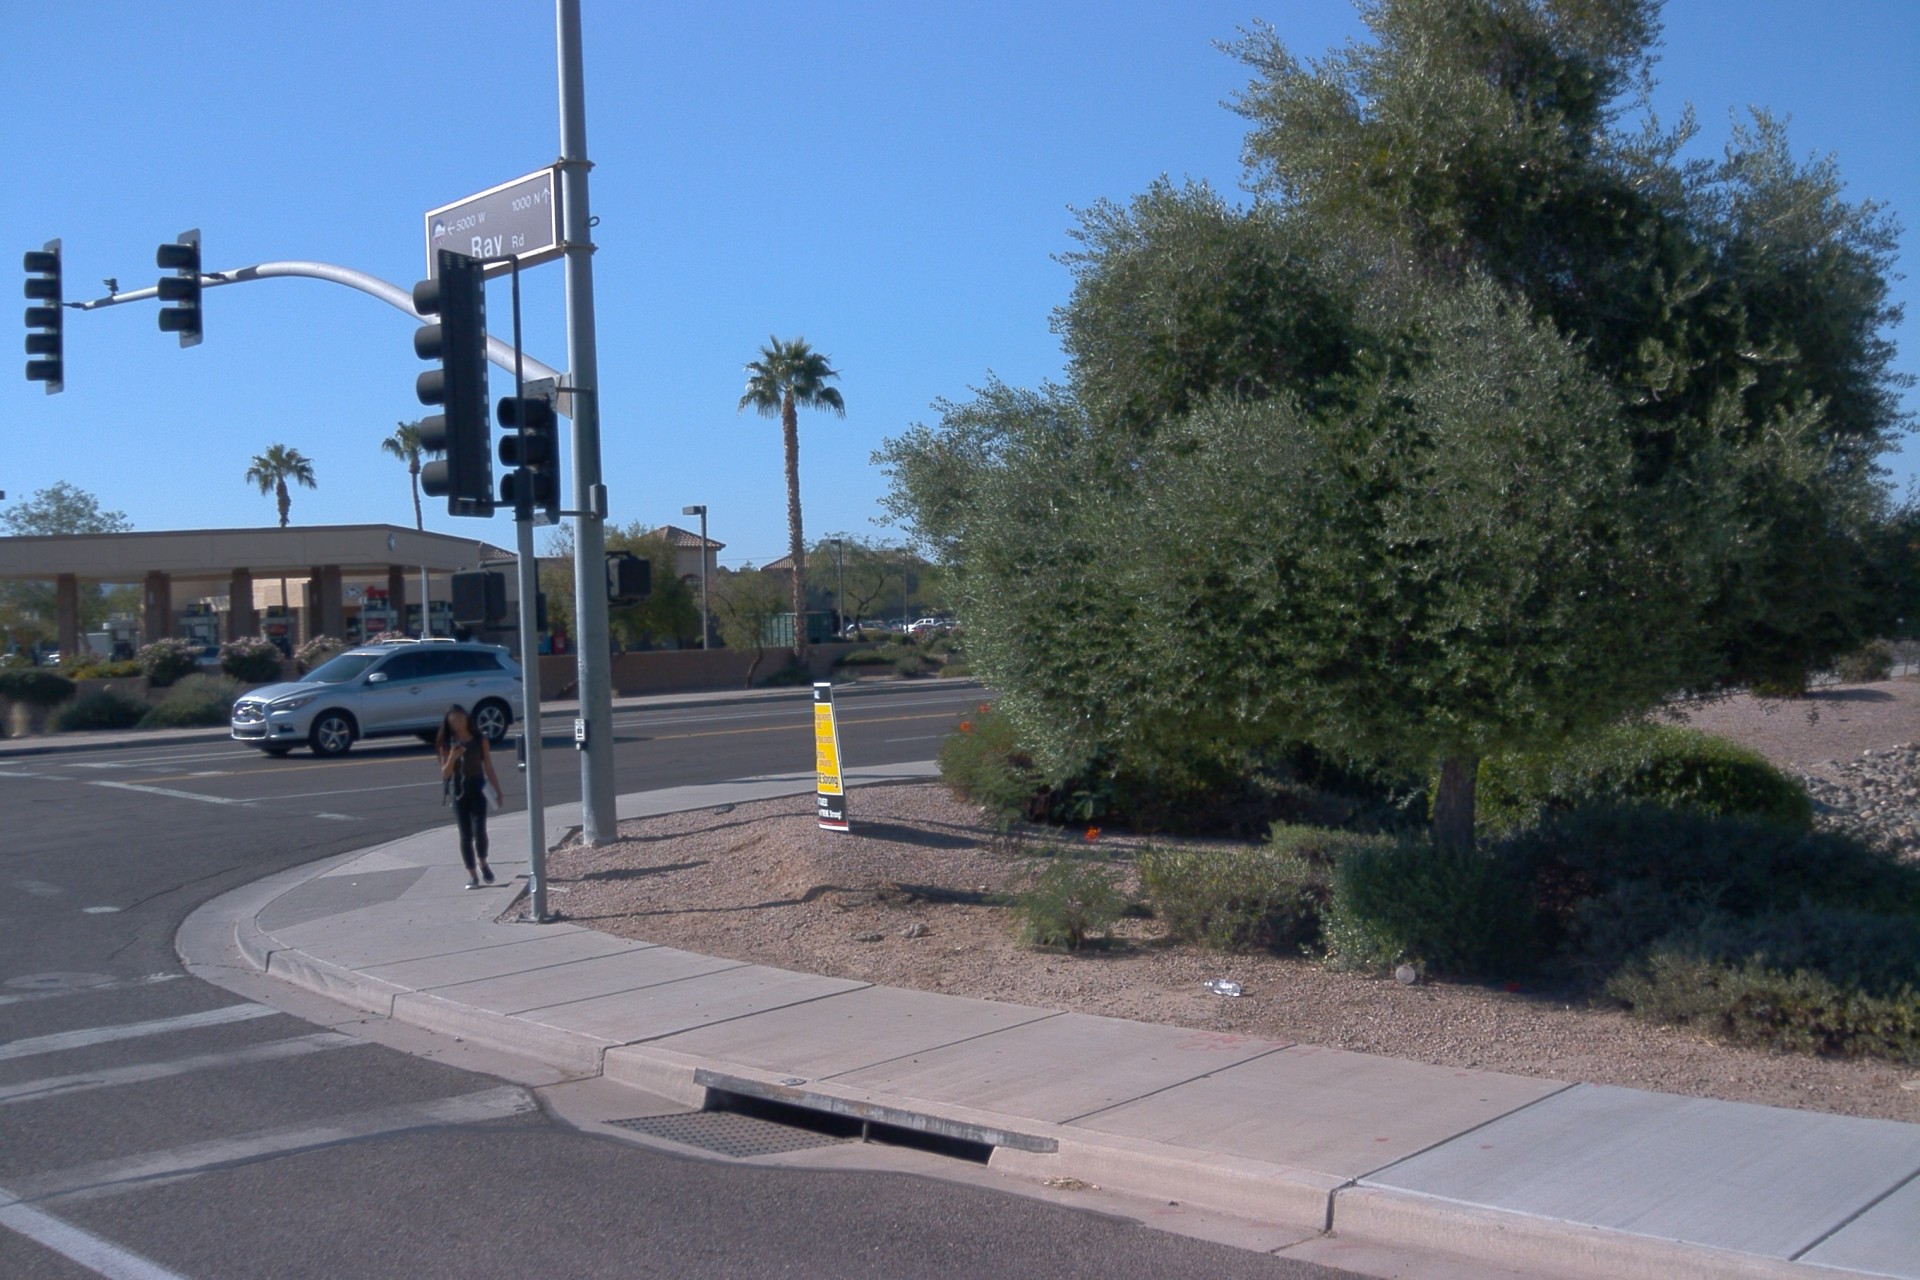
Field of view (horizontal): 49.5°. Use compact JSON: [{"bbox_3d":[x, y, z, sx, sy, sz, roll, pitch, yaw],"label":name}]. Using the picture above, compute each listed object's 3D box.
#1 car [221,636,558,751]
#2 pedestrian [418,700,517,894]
[{"bbox_3d":[-9.388,0.854,34.604,2.081,1.780,5.044,-2,-1,43],"label":"car"},{"bbox_3d":[-4.184,1.316,17.744,0.668,1.590,0.903,-1,-1,-4],"label":"pedestrian"}]
